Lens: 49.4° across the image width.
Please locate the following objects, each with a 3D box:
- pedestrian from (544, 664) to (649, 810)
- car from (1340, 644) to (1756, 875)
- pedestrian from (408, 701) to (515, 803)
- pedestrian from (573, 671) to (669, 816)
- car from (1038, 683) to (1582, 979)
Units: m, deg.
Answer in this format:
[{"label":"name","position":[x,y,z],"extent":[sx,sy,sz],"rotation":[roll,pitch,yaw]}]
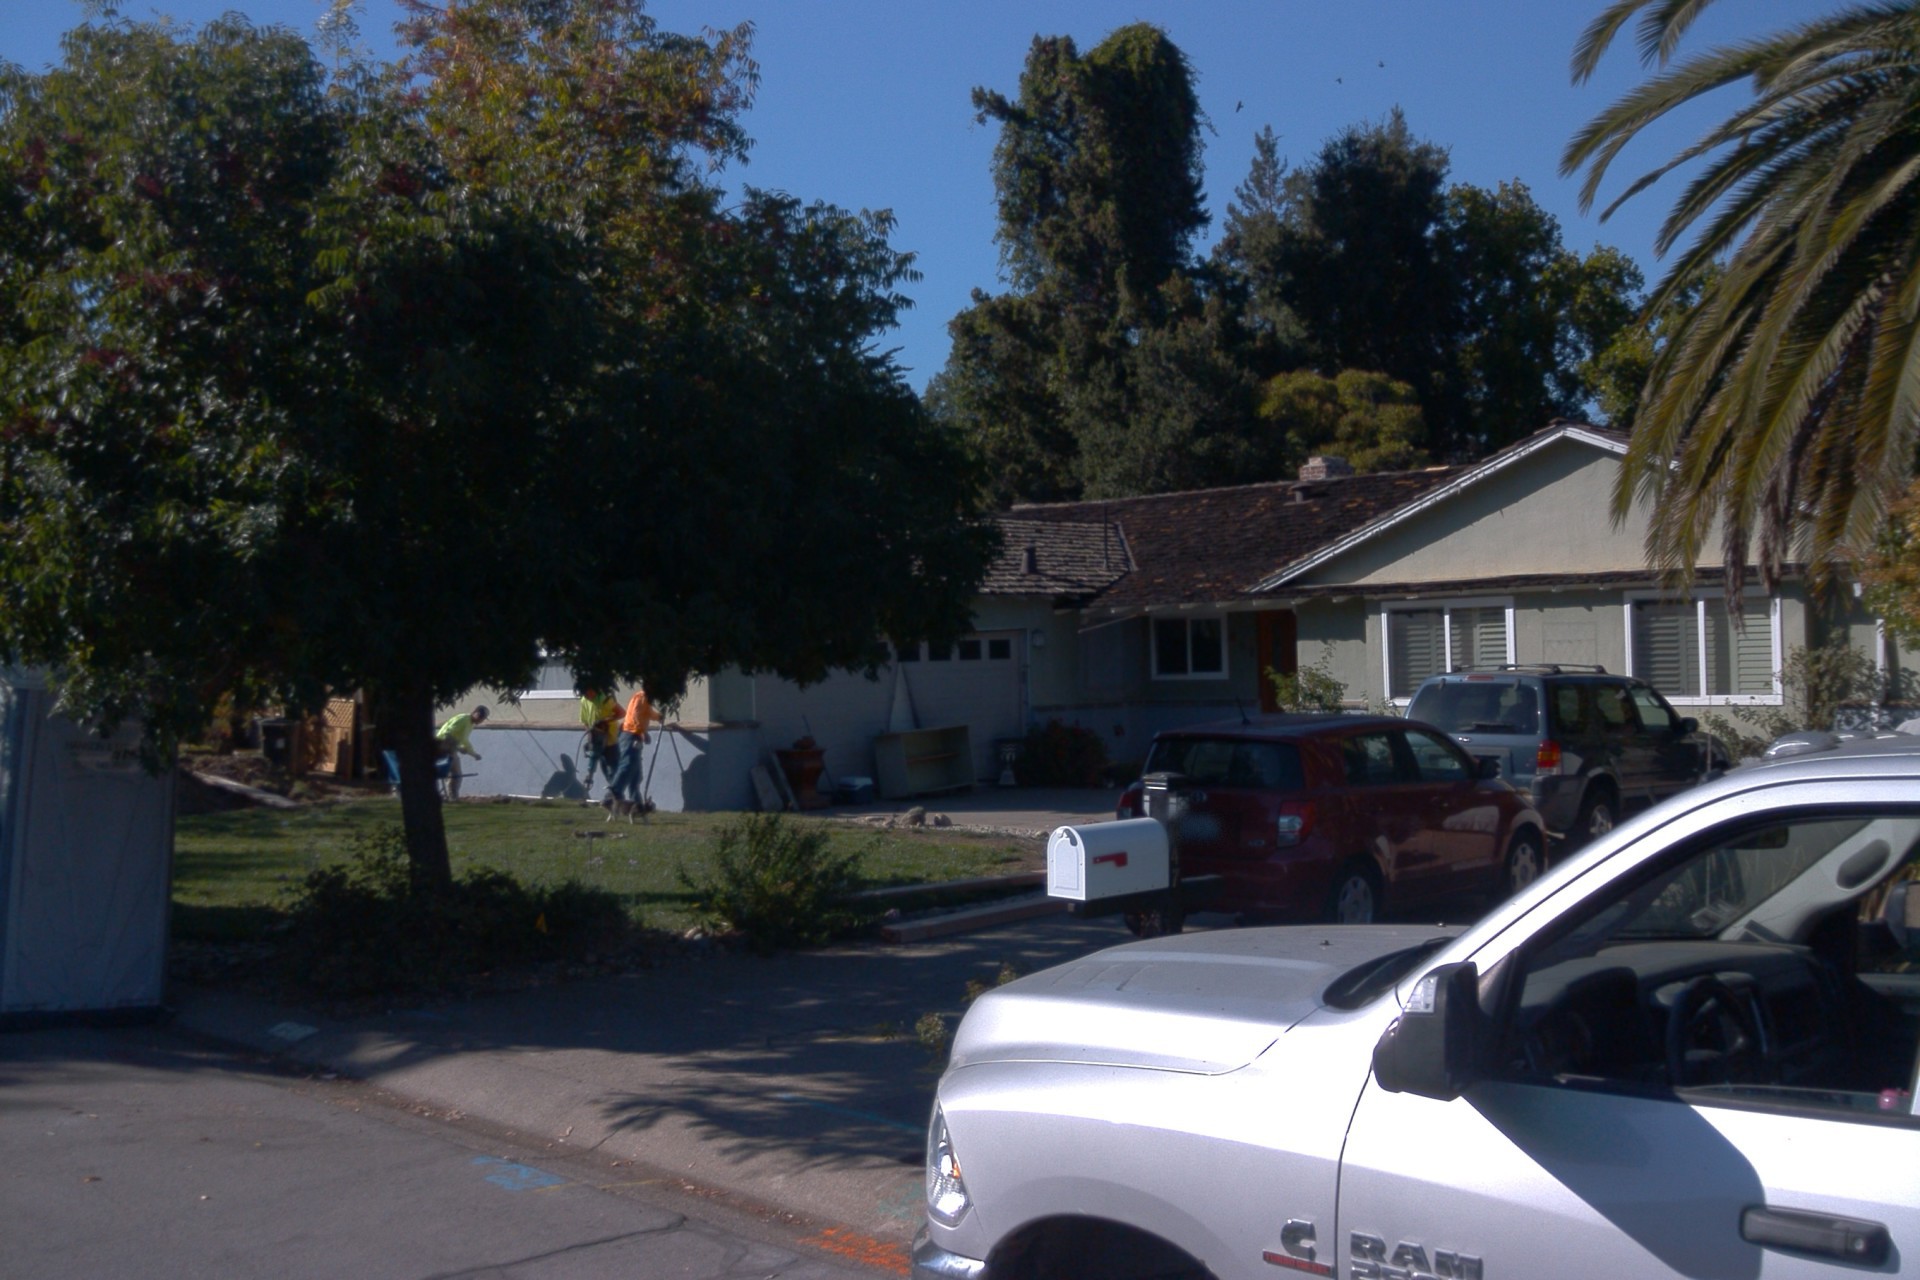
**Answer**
[{"label":"pedestrian","position":[-4.380,1.144,25.119],"extent":[0.928,1.700,0.921],"rotation":[0,0,-37]},{"label":"car","position":[5.553,0.984,19.361],"extent":[1.988,1.890,4.360],"rotation":[0,0,42]},{"label":"pedestrian","position":[-6.498,1.442,27.153],"extent":[1.321,1.250,1.075],"rotation":[0,0,-15]},{"label":"pedestrian","position":[-3.977,1.202,24.513],"extent":[0.945,1.660,0.773],"rotation":[0,0,6]},{"label":"car","position":[2.571,1.199,14.730],"extent":[1.993,1.720,3.891],"rotation":[0,0,42]}]
